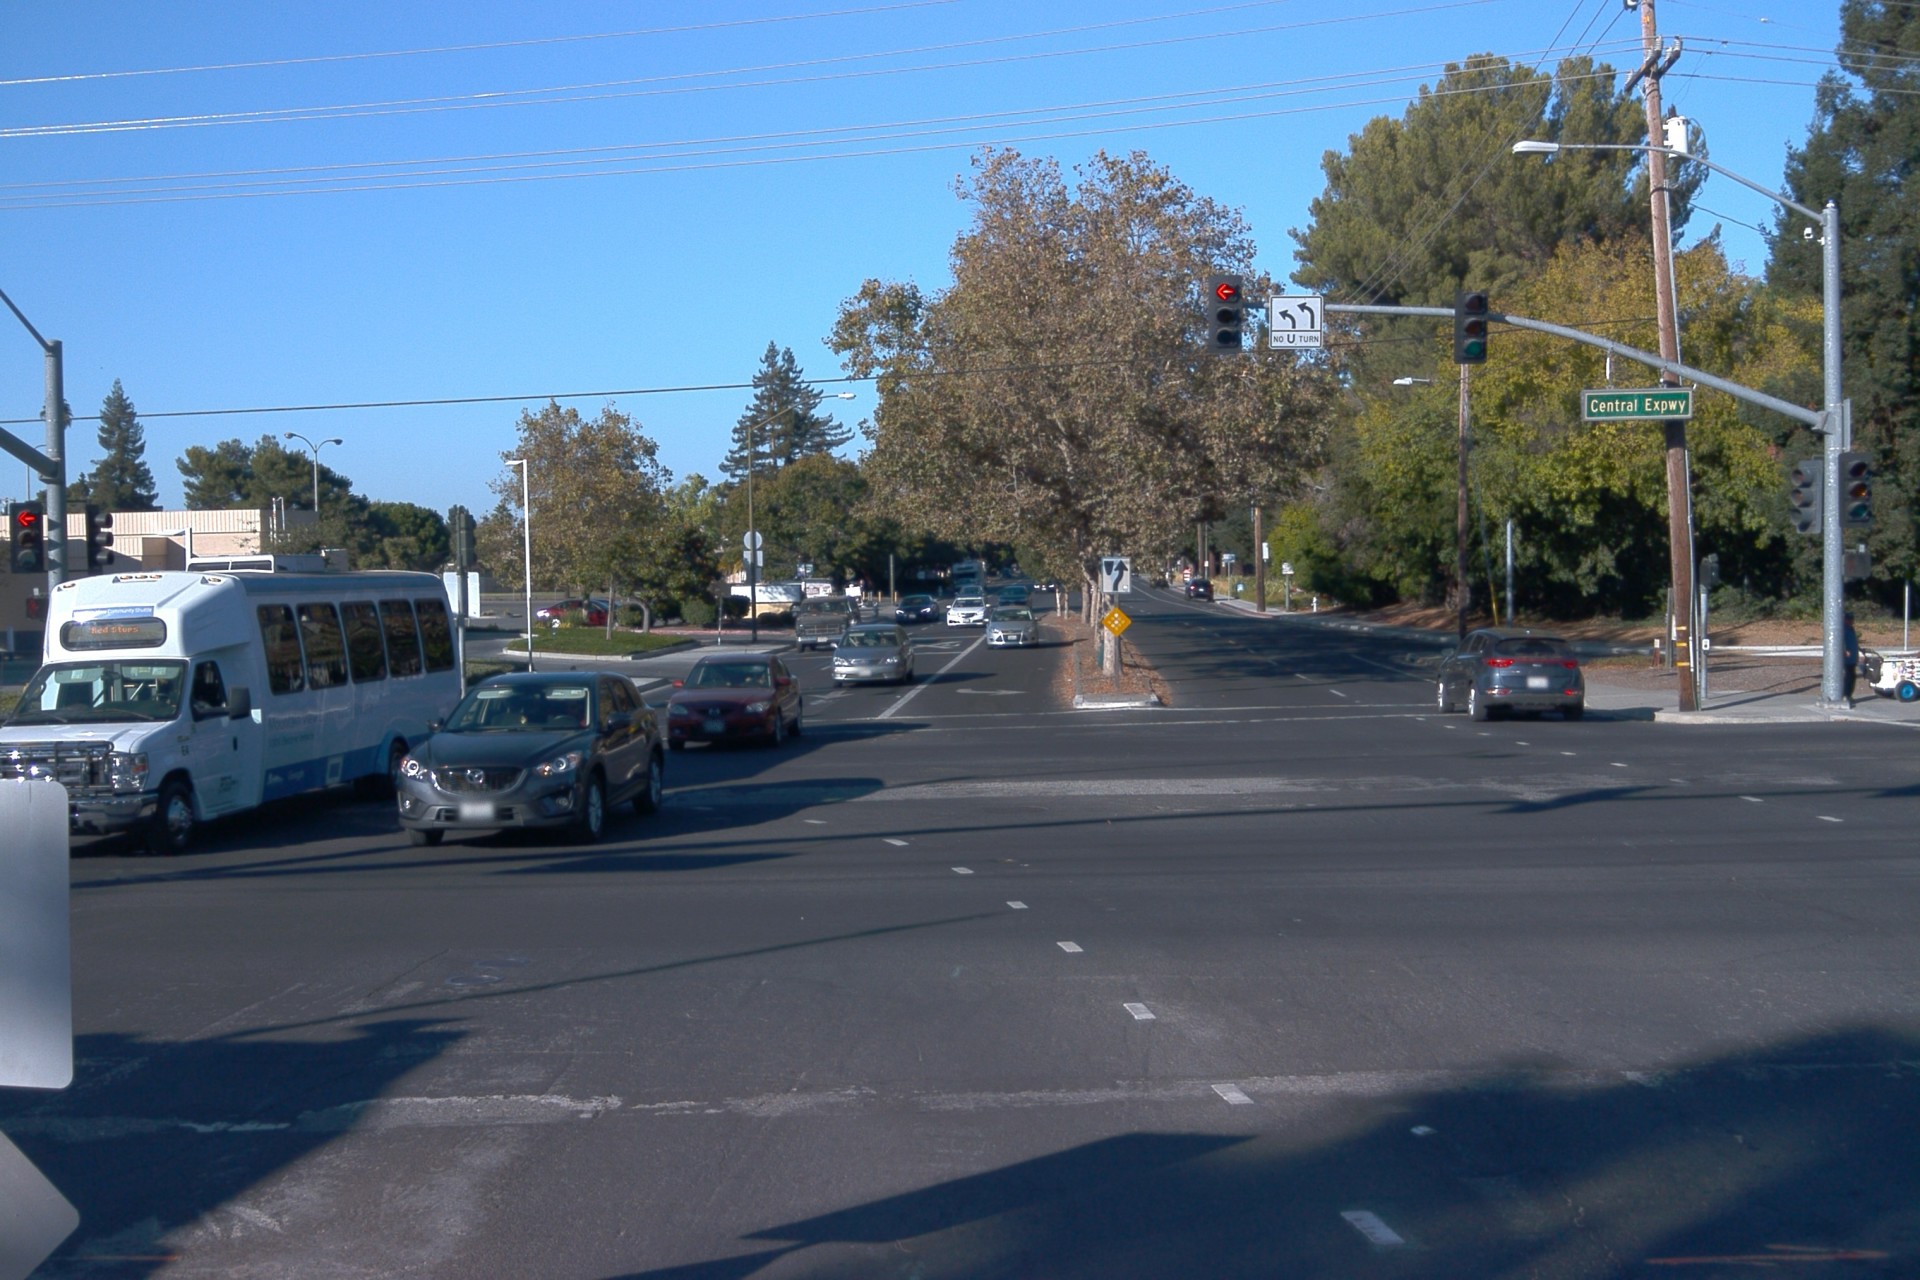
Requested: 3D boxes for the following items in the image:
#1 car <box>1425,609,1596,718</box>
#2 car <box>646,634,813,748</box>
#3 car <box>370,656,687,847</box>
[{"bbox_3d":[9.770,0.407,37.209,2.011,1.820,4.293,-1,0,2],"label":"car"},{"bbox_3d":[-3.705,0.788,34.197,1.998,1.730,4.331,-1,0,3],"label":"car"},{"bbox_3d":[-4.386,1.078,21.882,2.121,1.760,4.358,-1,0,4],"label":"car"}]
